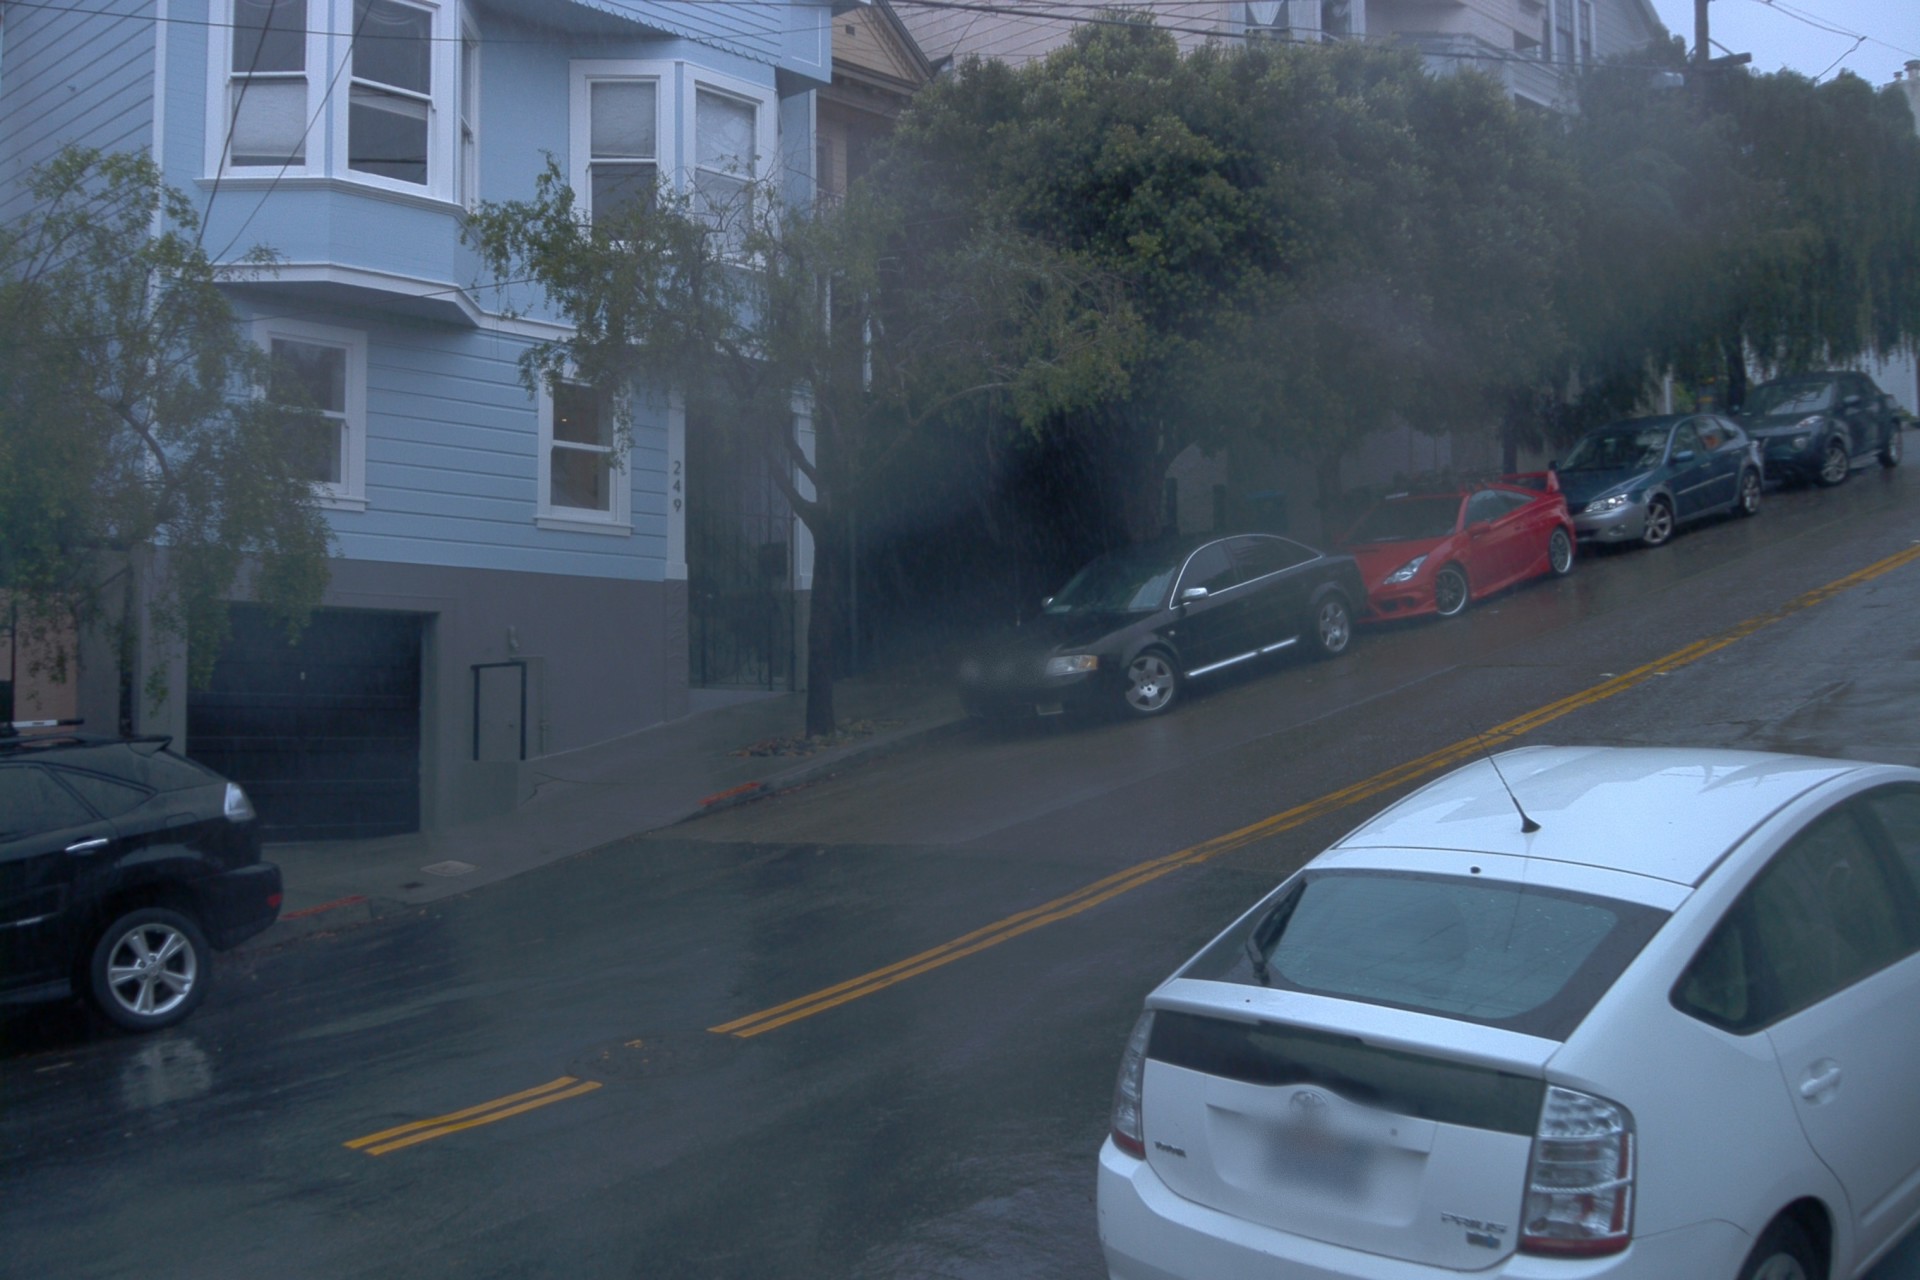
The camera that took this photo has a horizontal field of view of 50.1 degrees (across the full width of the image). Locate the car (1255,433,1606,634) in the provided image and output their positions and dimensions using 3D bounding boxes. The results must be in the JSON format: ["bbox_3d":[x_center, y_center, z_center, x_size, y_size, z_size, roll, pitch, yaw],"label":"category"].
[{"bbox_3d":[5.256,-1.076,22.646,2.006,1.990,4.048,1,0,43],"label":"car"}]

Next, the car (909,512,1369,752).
[{"bbox_3d":[1.751,-0.068,19.069,2.031,1.970,4.206,1,0,44],"label":"car"}]

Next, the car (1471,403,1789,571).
[{"bbox_3d":[8.634,-1.852,26.222,1.981,1.800,4.754,1,0,44],"label":"car"}]
